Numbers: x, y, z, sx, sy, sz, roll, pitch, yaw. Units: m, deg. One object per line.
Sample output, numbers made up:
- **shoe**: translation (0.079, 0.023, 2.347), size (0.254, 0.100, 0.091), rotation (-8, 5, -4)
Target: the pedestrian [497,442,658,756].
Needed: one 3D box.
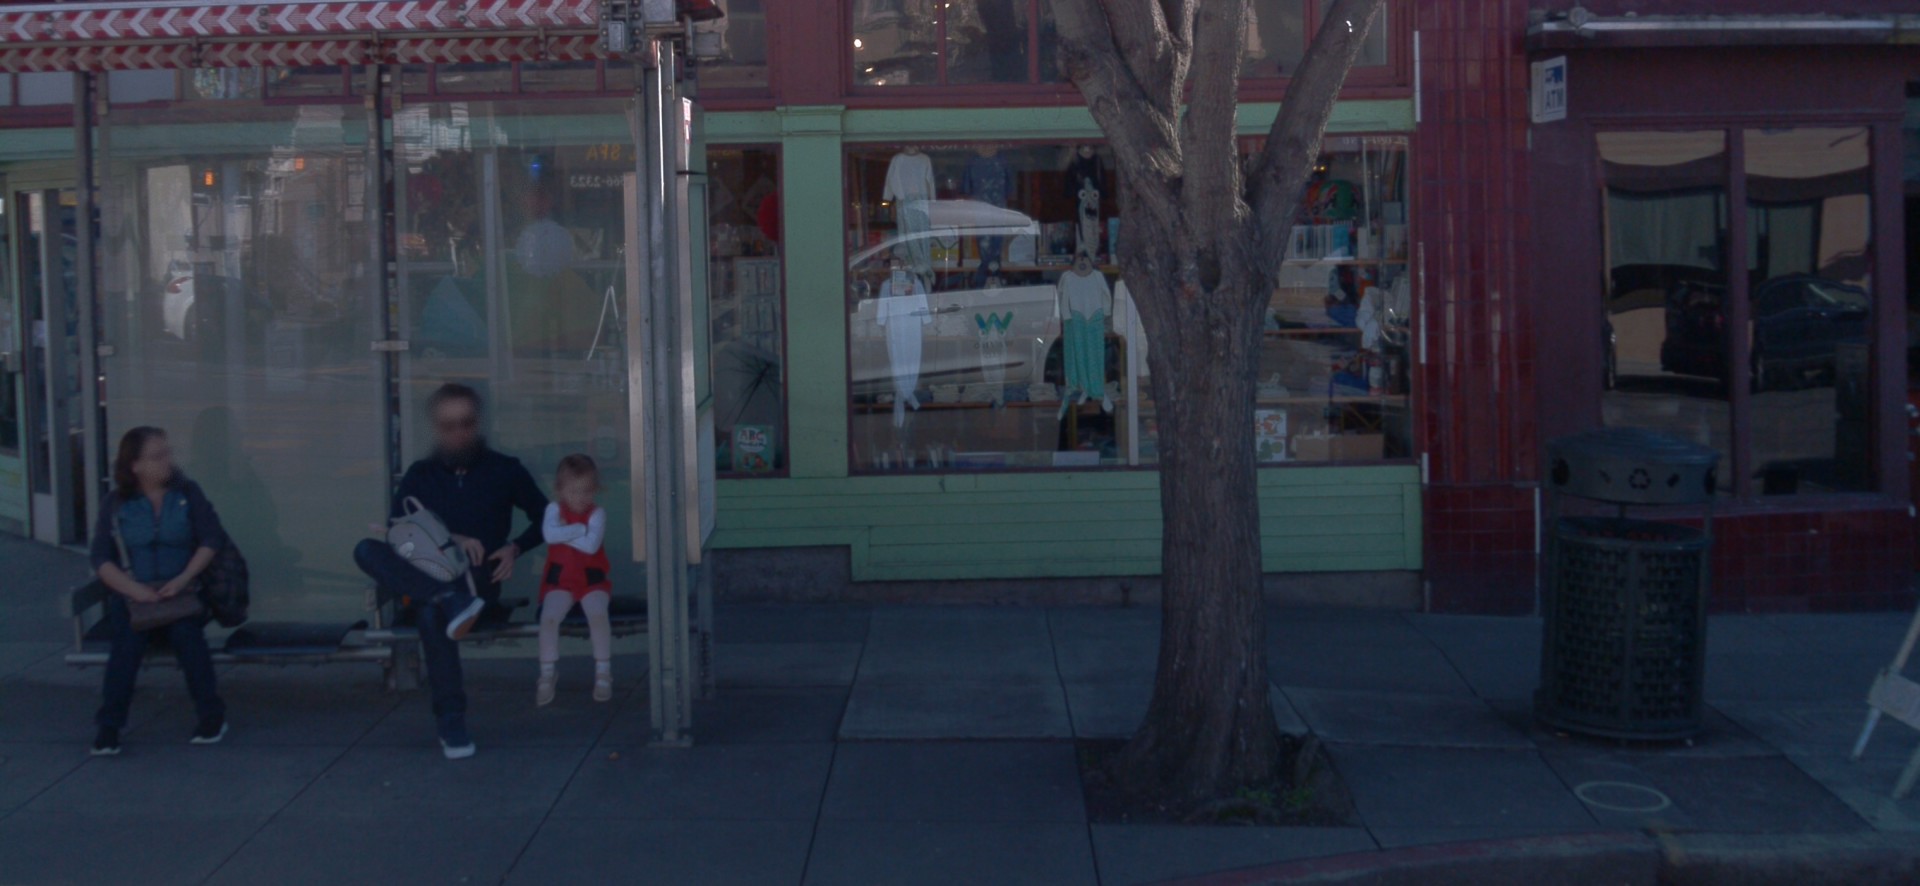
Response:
- **pedestrian**: translation (-1.468, 0.582, 7.992), size (0.528, 1.098, 0.572), rotation (0, 2, -3)

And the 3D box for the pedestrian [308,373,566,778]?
- **pedestrian**: translation (-1.989, 0.467, 7.974), size (0.753, 1.398, 0.926), rotation (0, 2, 0)

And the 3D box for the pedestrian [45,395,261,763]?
- **pedestrian**: translation (-3.127, 0.489, 8.060), size (0.737, 1.258, 0.794), rotation (-1, 2, -19)
